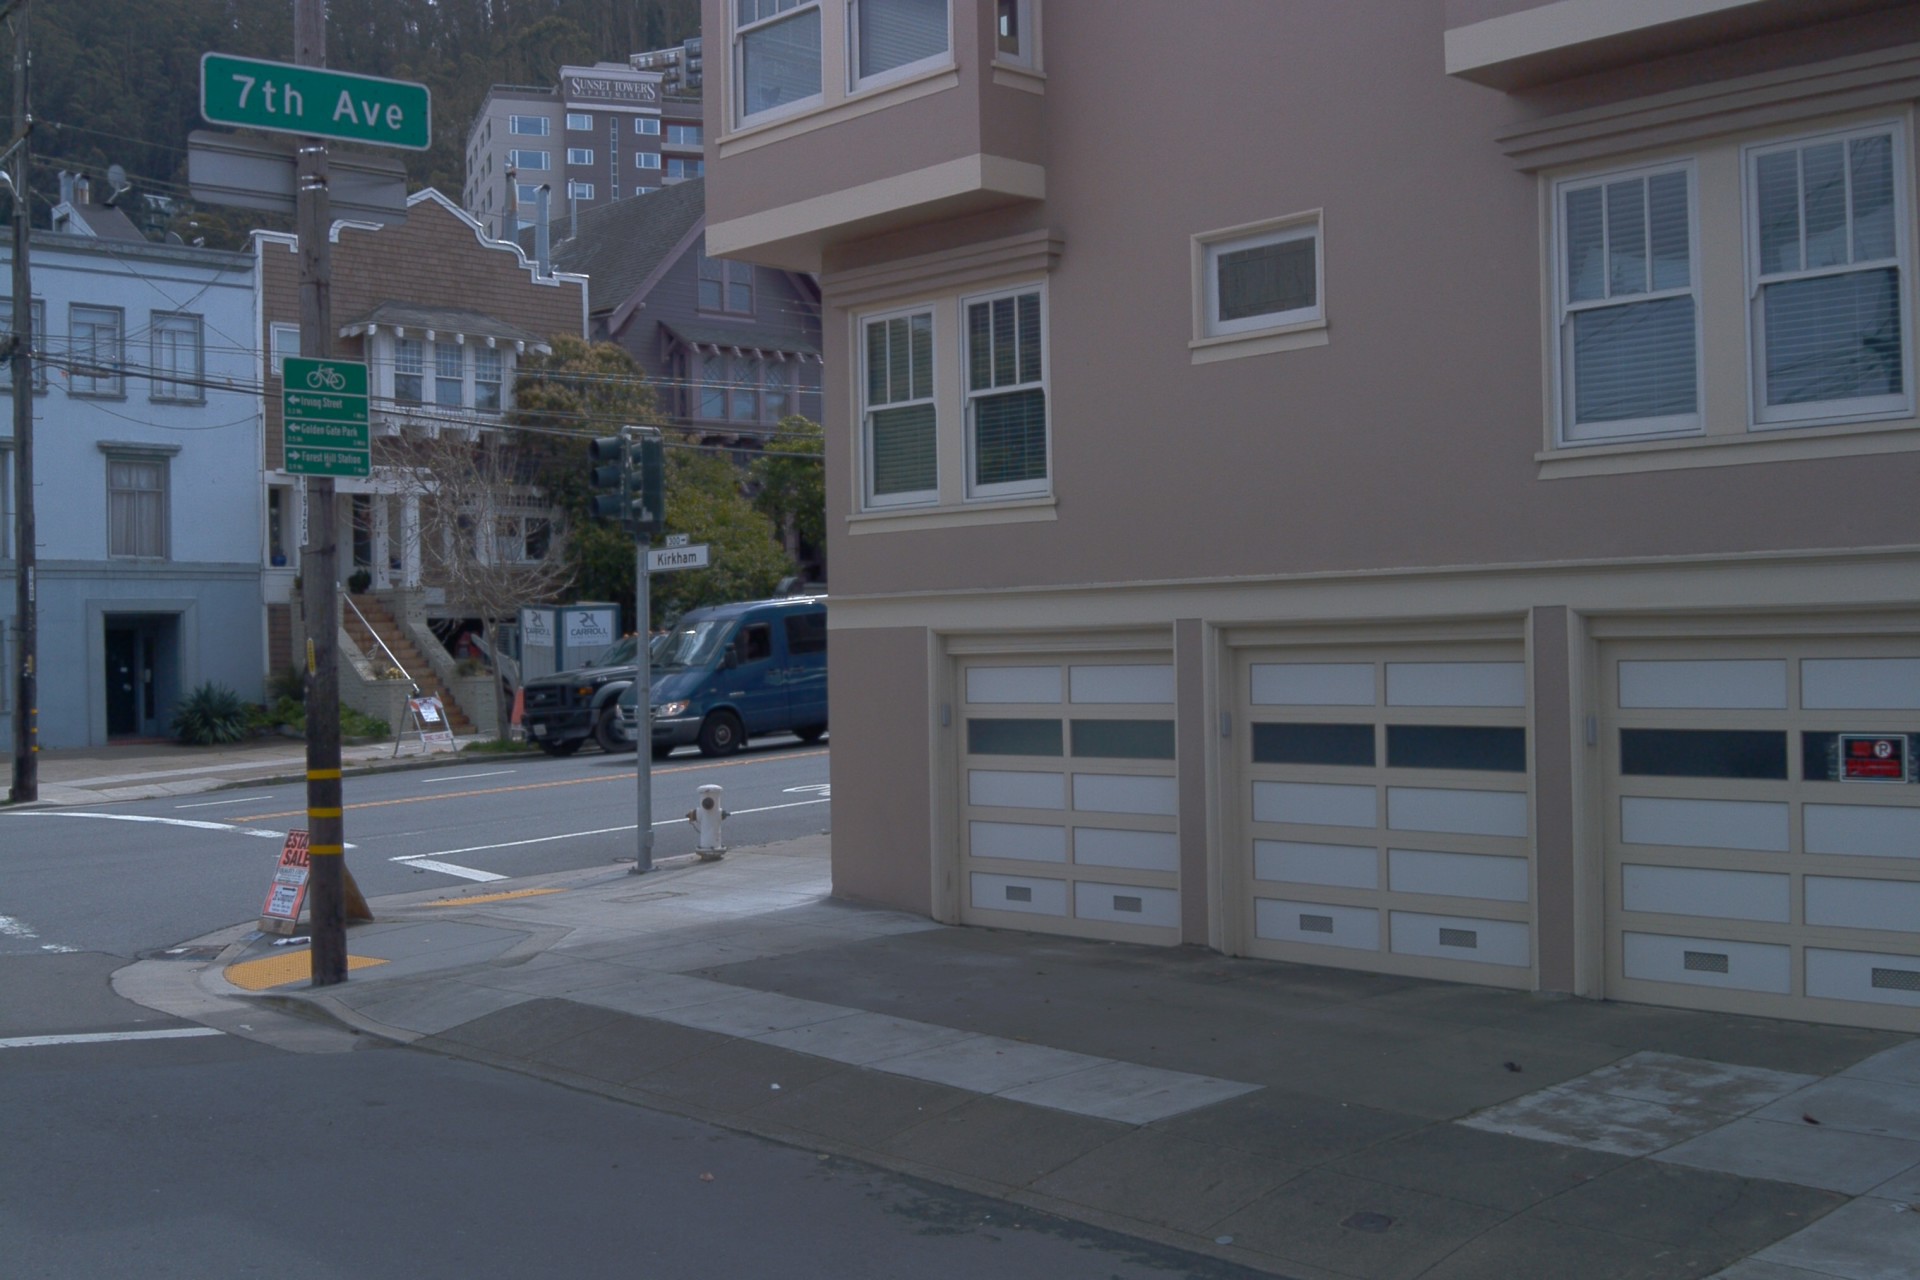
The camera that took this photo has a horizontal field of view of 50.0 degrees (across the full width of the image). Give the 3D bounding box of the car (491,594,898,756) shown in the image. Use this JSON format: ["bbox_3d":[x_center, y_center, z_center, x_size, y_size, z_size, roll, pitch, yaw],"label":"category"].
[{"bbox_3d":[-4.462,0.560,35.723,6.727,2.550,2.715,0,0,-45],"label":"car"}]

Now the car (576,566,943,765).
[{"bbox_3d":[-3.064,0.365,32.052,5.102,2.850,2.613,0,0,-41],"label":"car"}]
